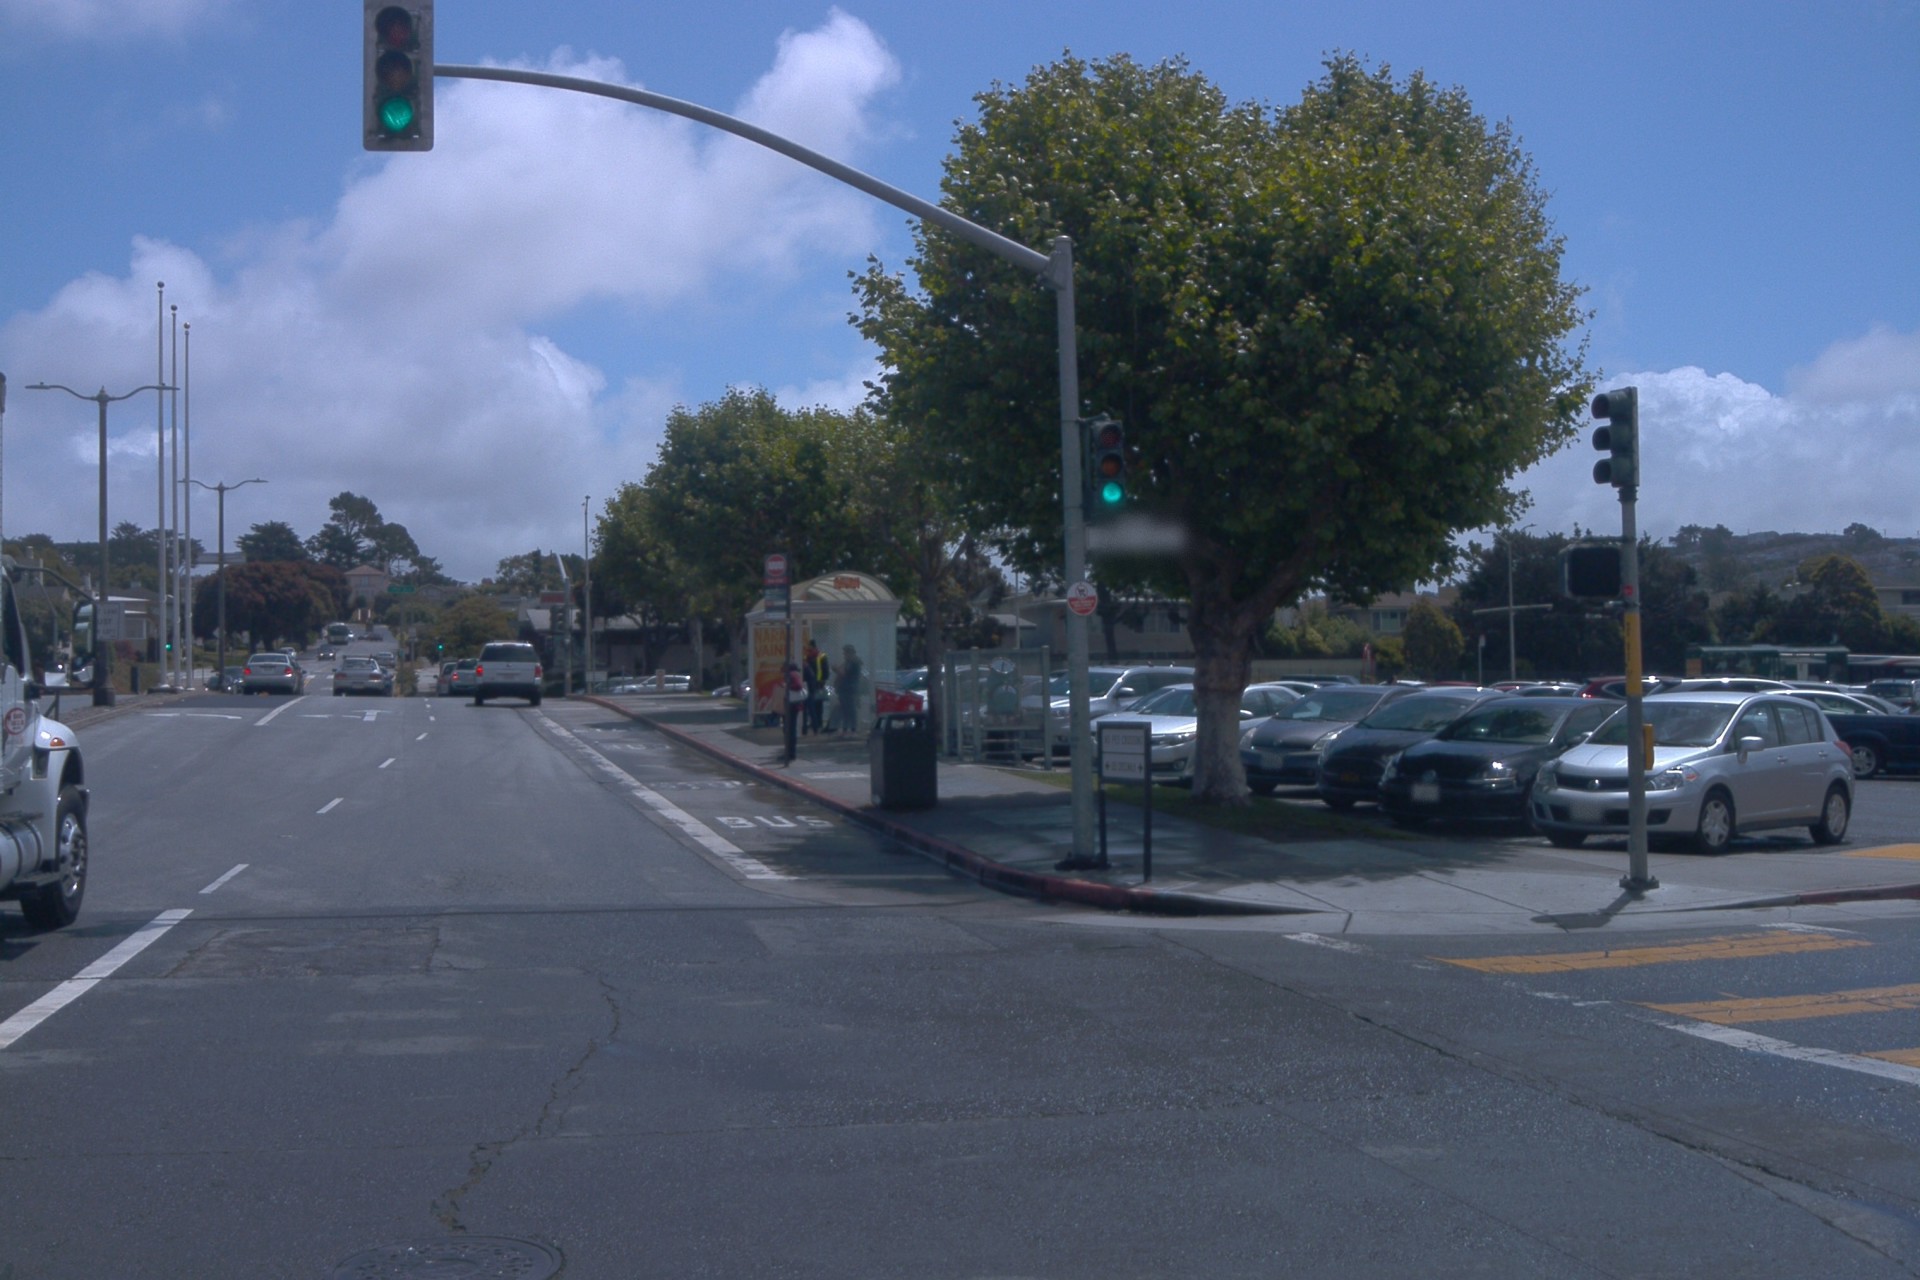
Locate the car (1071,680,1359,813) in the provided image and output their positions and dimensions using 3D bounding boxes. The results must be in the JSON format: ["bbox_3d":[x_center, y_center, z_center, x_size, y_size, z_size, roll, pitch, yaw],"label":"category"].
[{"bbox_3d":[3.839,1.498,30.359,2.123,1.660,4.439,0,1,40],"label":"car"}]

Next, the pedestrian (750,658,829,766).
[{"bbox_3d":[-2.676,1.109,32.216,0.994,1.620,1.079,0,1,-18],"label":"pedestrian"}]

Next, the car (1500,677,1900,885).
[{"bbox_3d":[7.373,1.283,20.290,4.248,1.700,1.984,-1,1,-43],"label":"car"}]
